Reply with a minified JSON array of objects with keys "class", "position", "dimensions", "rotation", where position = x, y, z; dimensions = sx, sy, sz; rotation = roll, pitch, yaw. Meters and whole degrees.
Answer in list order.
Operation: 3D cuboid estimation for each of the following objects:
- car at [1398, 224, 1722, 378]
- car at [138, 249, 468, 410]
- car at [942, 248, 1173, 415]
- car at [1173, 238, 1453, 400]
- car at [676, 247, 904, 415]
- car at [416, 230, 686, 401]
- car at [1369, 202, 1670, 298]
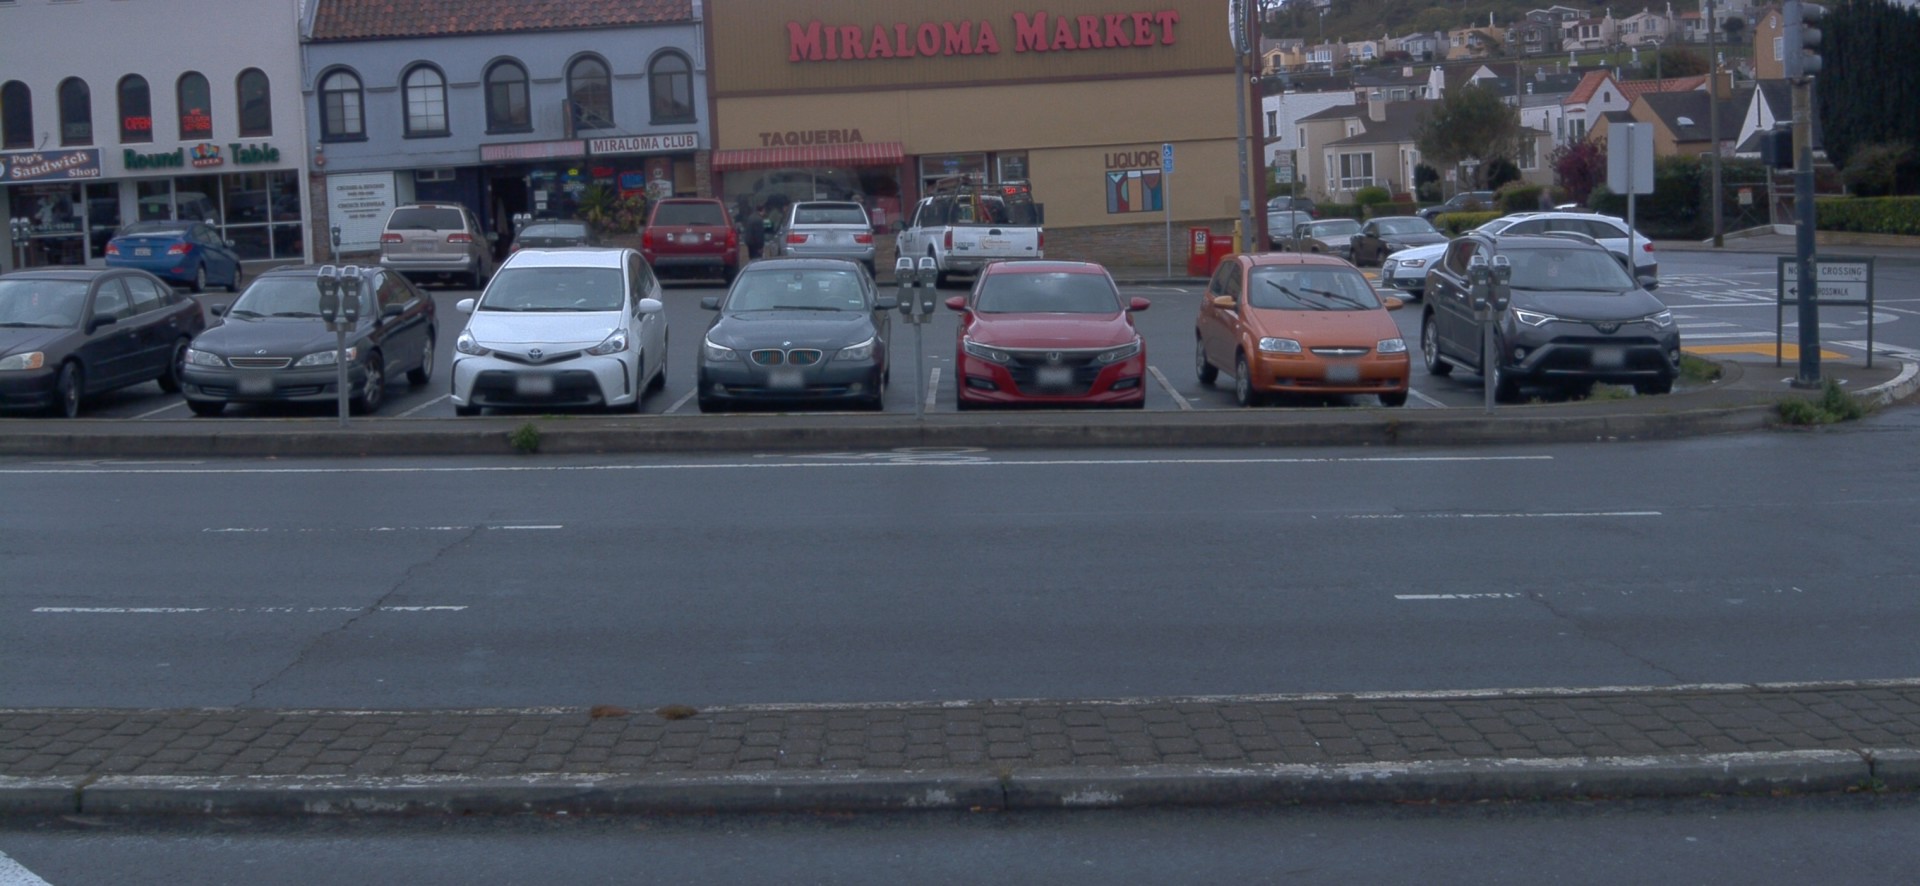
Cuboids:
[{"class":"car","position":[6.387,-1.639,22.575],"dimensions":[2.205,1.461,4.580],"rotation":[0,6,0]},{"class":"car","position":[-6.720,-1.283,21.702],"dimensions":[2.023,1.392,4.712],"rotation":[0,6,-1]},{"class":"car","position":[0.905,-1.270,21.830],"dimensions":[2.185,1.461,4.636],"rotation":[0,6,-1]},{"class":"car","position":[3.603,-1.395,21.812],"dimensions":[2.049,1.462,4.037],"rotation":[0,6,-4]},{"class":"car","position":[-1.660,-1.268,21.658],"dimensions":[2.112,1.461,4.574],"rotation":[0,6,-1]},{"class":"car","position":[-4.065,-1.415,21.312],"dimensions":[2.132,1.491,4.678],"rotation":[0,6,-4]},{"class":"car","position":[9.726,-3.407,36.070],"dimensions":[4.659,1.604,2.078],"rotation":[-1,5,-6]}]
